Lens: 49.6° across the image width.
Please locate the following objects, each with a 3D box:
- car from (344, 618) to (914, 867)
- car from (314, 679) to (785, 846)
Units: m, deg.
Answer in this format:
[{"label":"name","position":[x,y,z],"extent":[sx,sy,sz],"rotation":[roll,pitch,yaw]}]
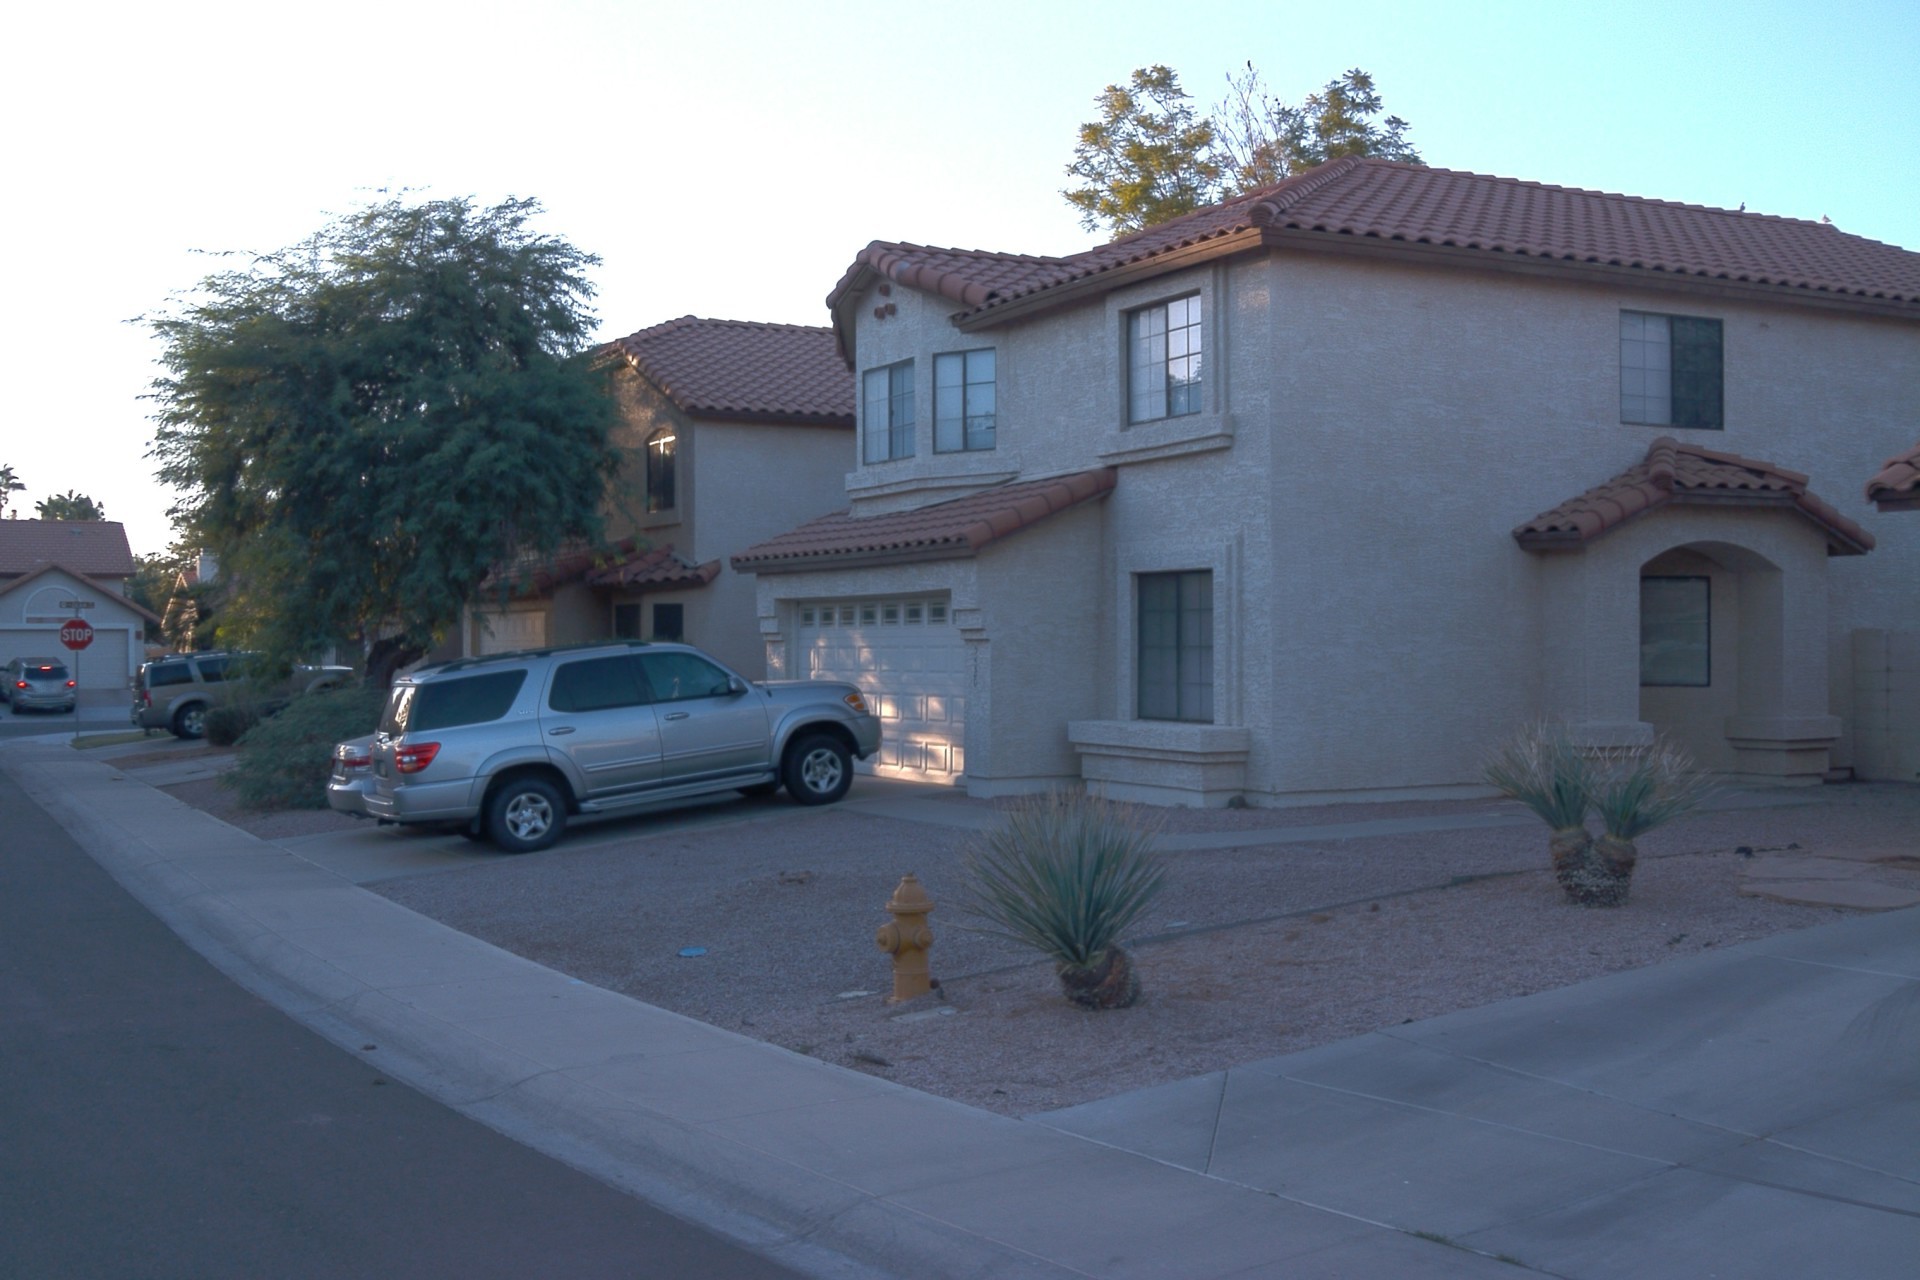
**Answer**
[{"label":"car","position":[-3.374,0.958,21.231],"extent":[5.291,2.280,2.369],"rotation":[0,-1,-25]},{"label":"car","position":[-4.579,1.290,23.274],"extent":[4.778,1.670,2.108],"rotation":[0,-1,-27]}]
